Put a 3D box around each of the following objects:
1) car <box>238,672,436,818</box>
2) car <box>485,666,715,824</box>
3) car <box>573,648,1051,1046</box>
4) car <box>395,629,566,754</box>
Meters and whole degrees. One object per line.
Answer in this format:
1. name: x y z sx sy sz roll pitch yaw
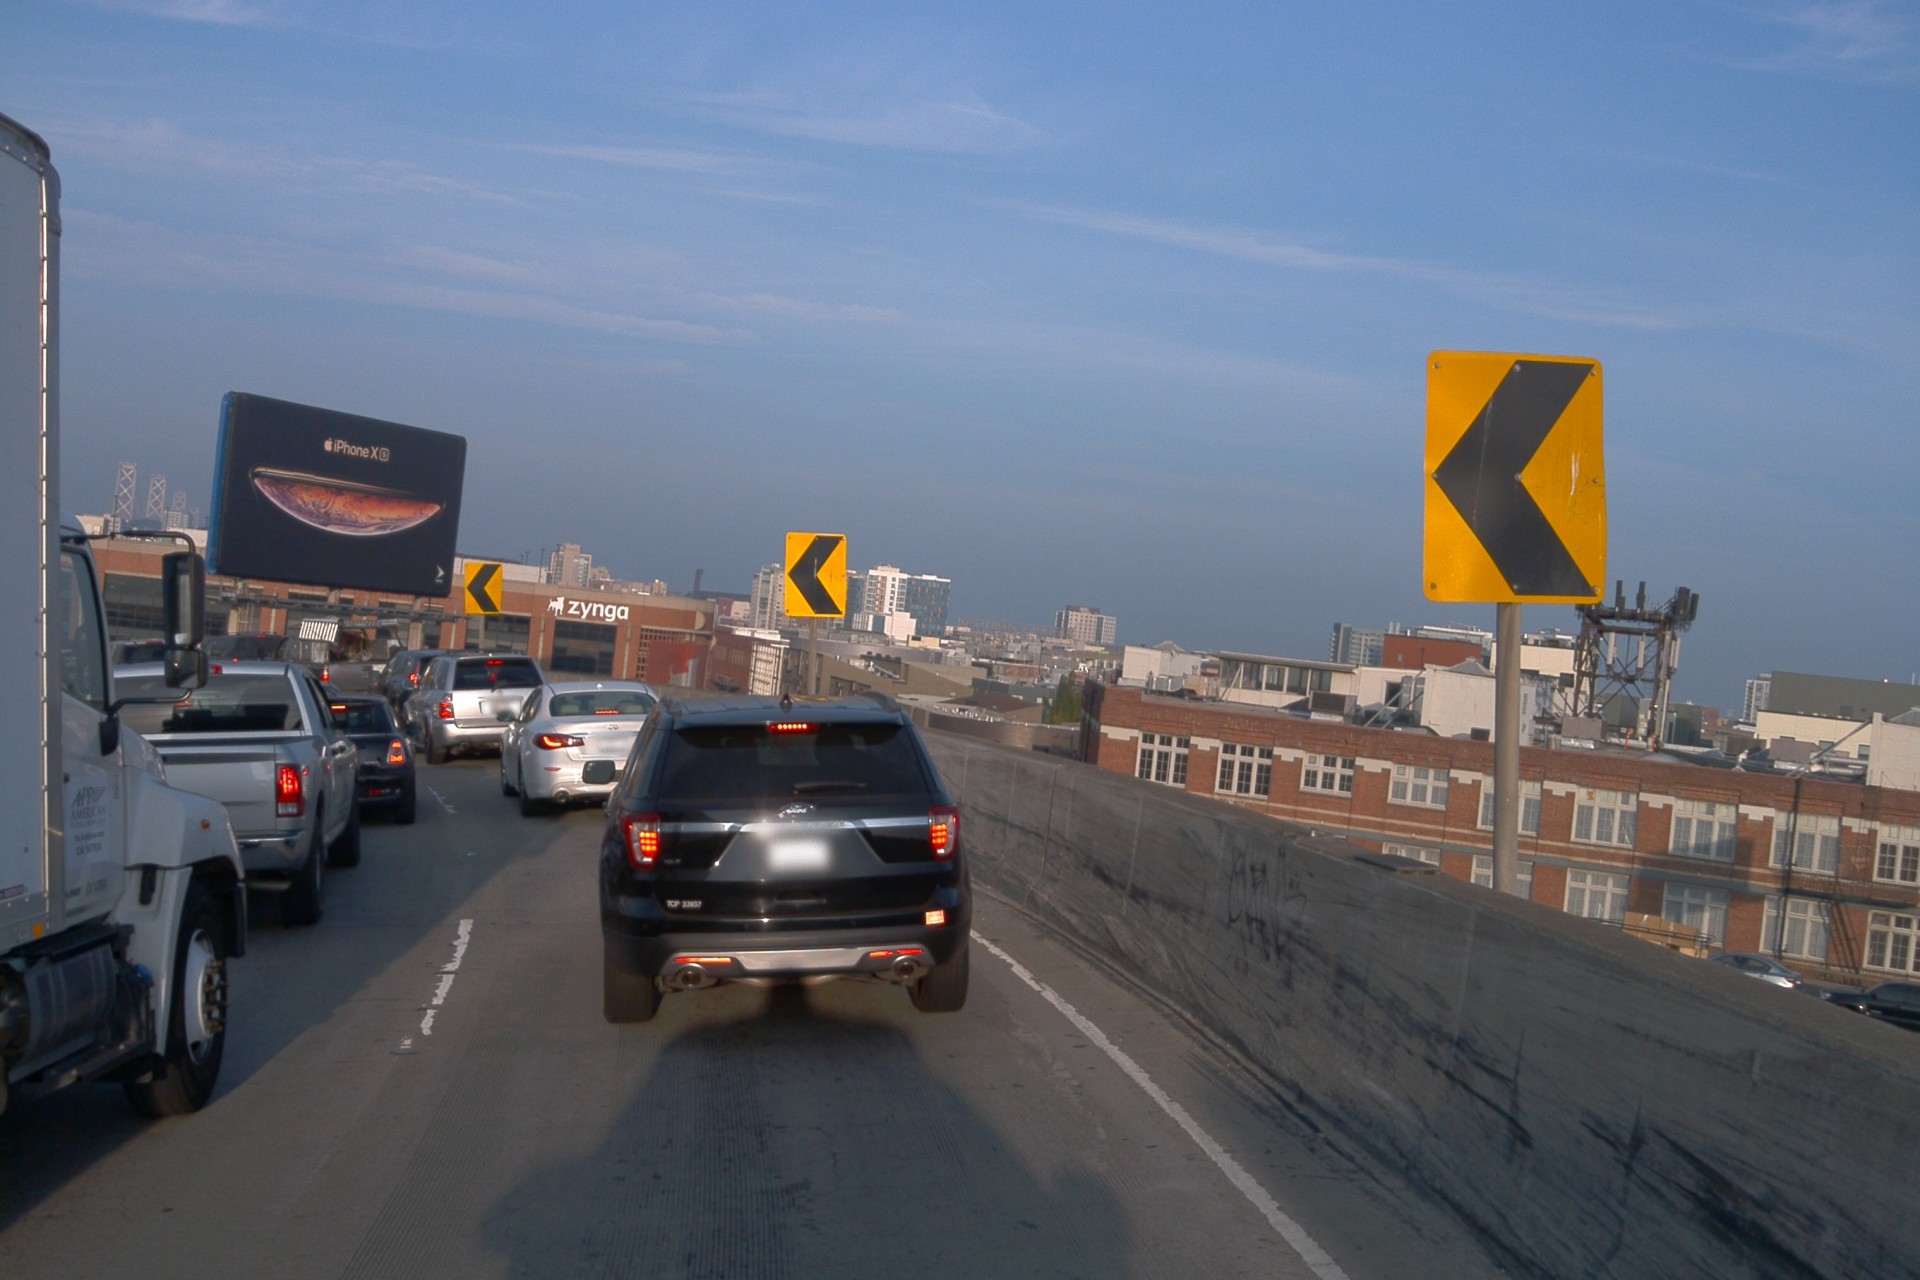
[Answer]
1. car: -7.002 1.121 23.426 1.934 1.411 4.084 0 0 -14
2. car: -4.352 1.146 24.219 2.144 1.590 4.509 0 0 -17
3. car: -1.135 0.998 12.405 2.327 1.850 4.876 0 0 -10
4. car: -7.688 0.755 32.613 1.992 1.820 4.394 0 0 -22
